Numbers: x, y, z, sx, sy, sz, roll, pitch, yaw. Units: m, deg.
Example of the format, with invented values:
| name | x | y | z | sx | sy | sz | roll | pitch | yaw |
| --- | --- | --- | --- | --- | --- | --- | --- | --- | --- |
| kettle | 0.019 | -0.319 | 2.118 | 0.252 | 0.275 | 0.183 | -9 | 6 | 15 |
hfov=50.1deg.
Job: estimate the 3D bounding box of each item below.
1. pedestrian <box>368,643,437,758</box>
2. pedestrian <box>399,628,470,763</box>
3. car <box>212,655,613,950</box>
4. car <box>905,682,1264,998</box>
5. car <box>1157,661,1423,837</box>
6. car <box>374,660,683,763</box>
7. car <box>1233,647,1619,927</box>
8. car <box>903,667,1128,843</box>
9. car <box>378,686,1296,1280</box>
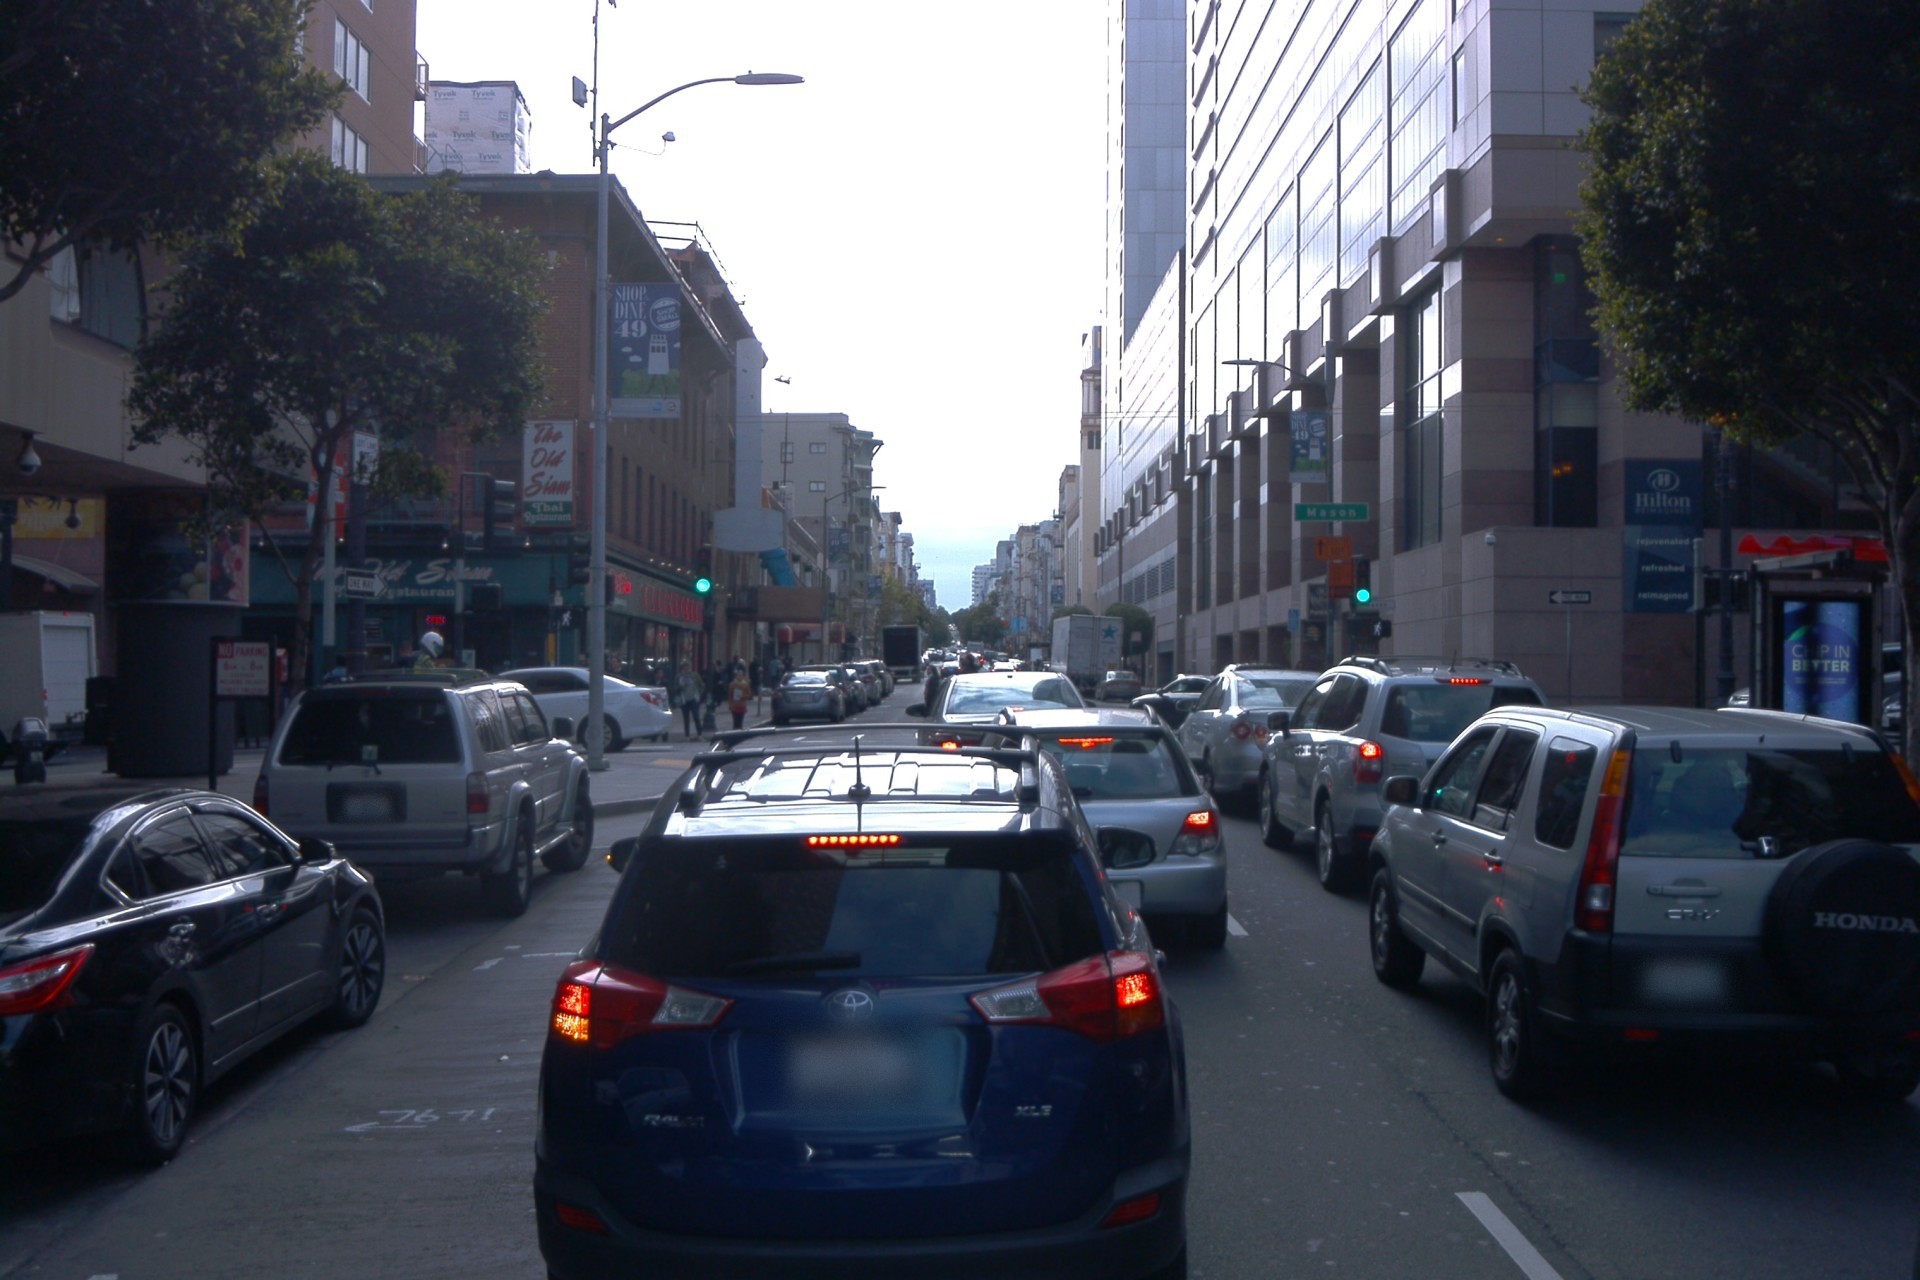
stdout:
| name | x | y | z | sx | sy | sz | roll | pitch | yaw |
| --- | --- | --- | --- | --- | --- | --- | --- | --- | --- |
| pedestrian | -8.187 | 0.878 | 30.221 | 0.779 | 1.650 | 0.864 | 0 | 1 | -1 |
| pedestrian | -7.423 | 0.770 | 29.060 | 0.708 | 1.880 | 0.658 | 0 | 1 | 29 |
| car | -4.074 | 1.110 | 16.163 | 1.995 | 1.880 | 4.690 | 0 | 1 | -1 |
| car | 0.755 | 1.179 | 13.994 | 2.030 | 1.630 | 4.708 | 0 | 1 | 1 |
| car | 3.433 | 1.085 | 22.361 | 2.063 | 1.590 | 4.797 | 0 | 1 | -1 |
| car | -7.206 | 1.182 | 34.660 | 4.779 | 1.620 | 1.945 | 0 | 1 | 1 |
| car | 3.552 | 1.032 | 16.633 | 2.029 | 1.870 | 4.665 | 0 | 1 | 0 |
| car | 0.458 | 1.088 | 21.253 | 2.074 | 1.500 | 4.589 | 0 | 1 | -1 |
| car | -0.294 | 1.158 | 7.187 | 2.184 | 1.830 | 4.555 | 0 | 1 | 0 |
